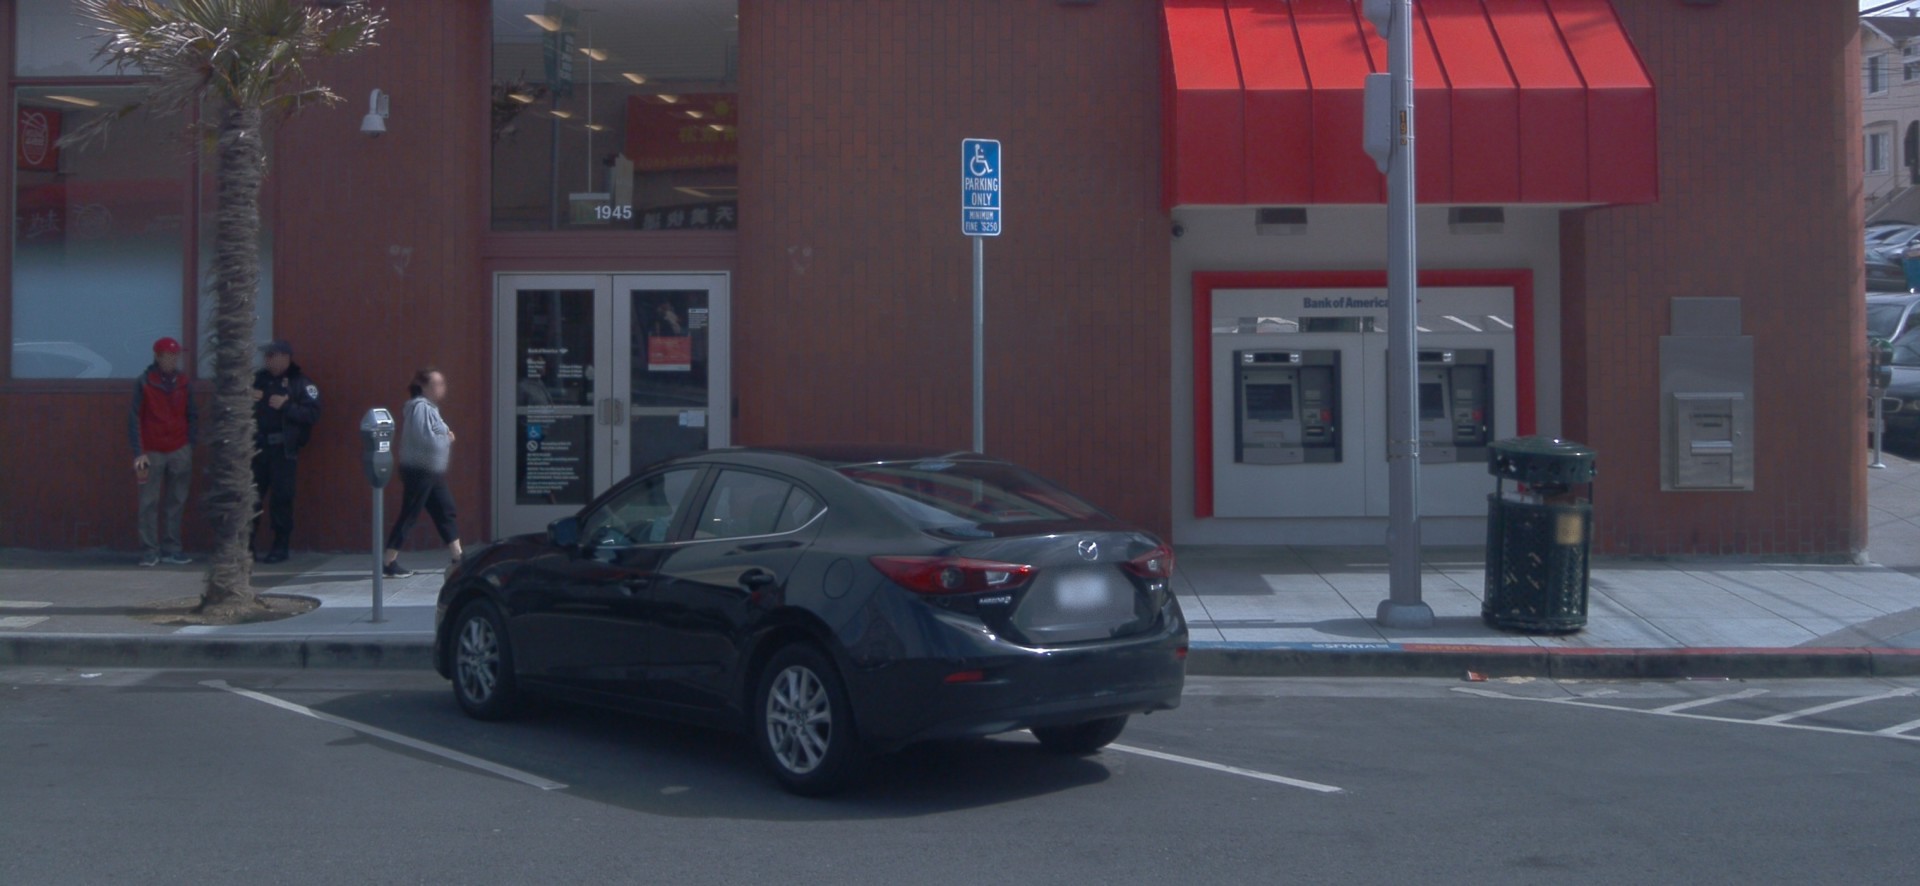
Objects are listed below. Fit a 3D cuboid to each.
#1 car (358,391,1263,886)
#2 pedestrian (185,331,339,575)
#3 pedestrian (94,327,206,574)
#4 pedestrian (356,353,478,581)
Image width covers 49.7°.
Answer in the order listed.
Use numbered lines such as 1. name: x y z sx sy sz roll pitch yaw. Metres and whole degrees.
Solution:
1. car: -0.954 0.677 10.163 2.030 1.473 4.587 -3 6 -42
2. pedestrian: -5.246 0.047 15.618 0.862 1.740 0.685 1 1 16
3. pedestrian: -6.057 0.030 15.498 0.725 1.743 0.695 0 1 -26
4. pedestrian: -3.865 0.148 14.807 0.754 1.537 0.693 0 1 -7
